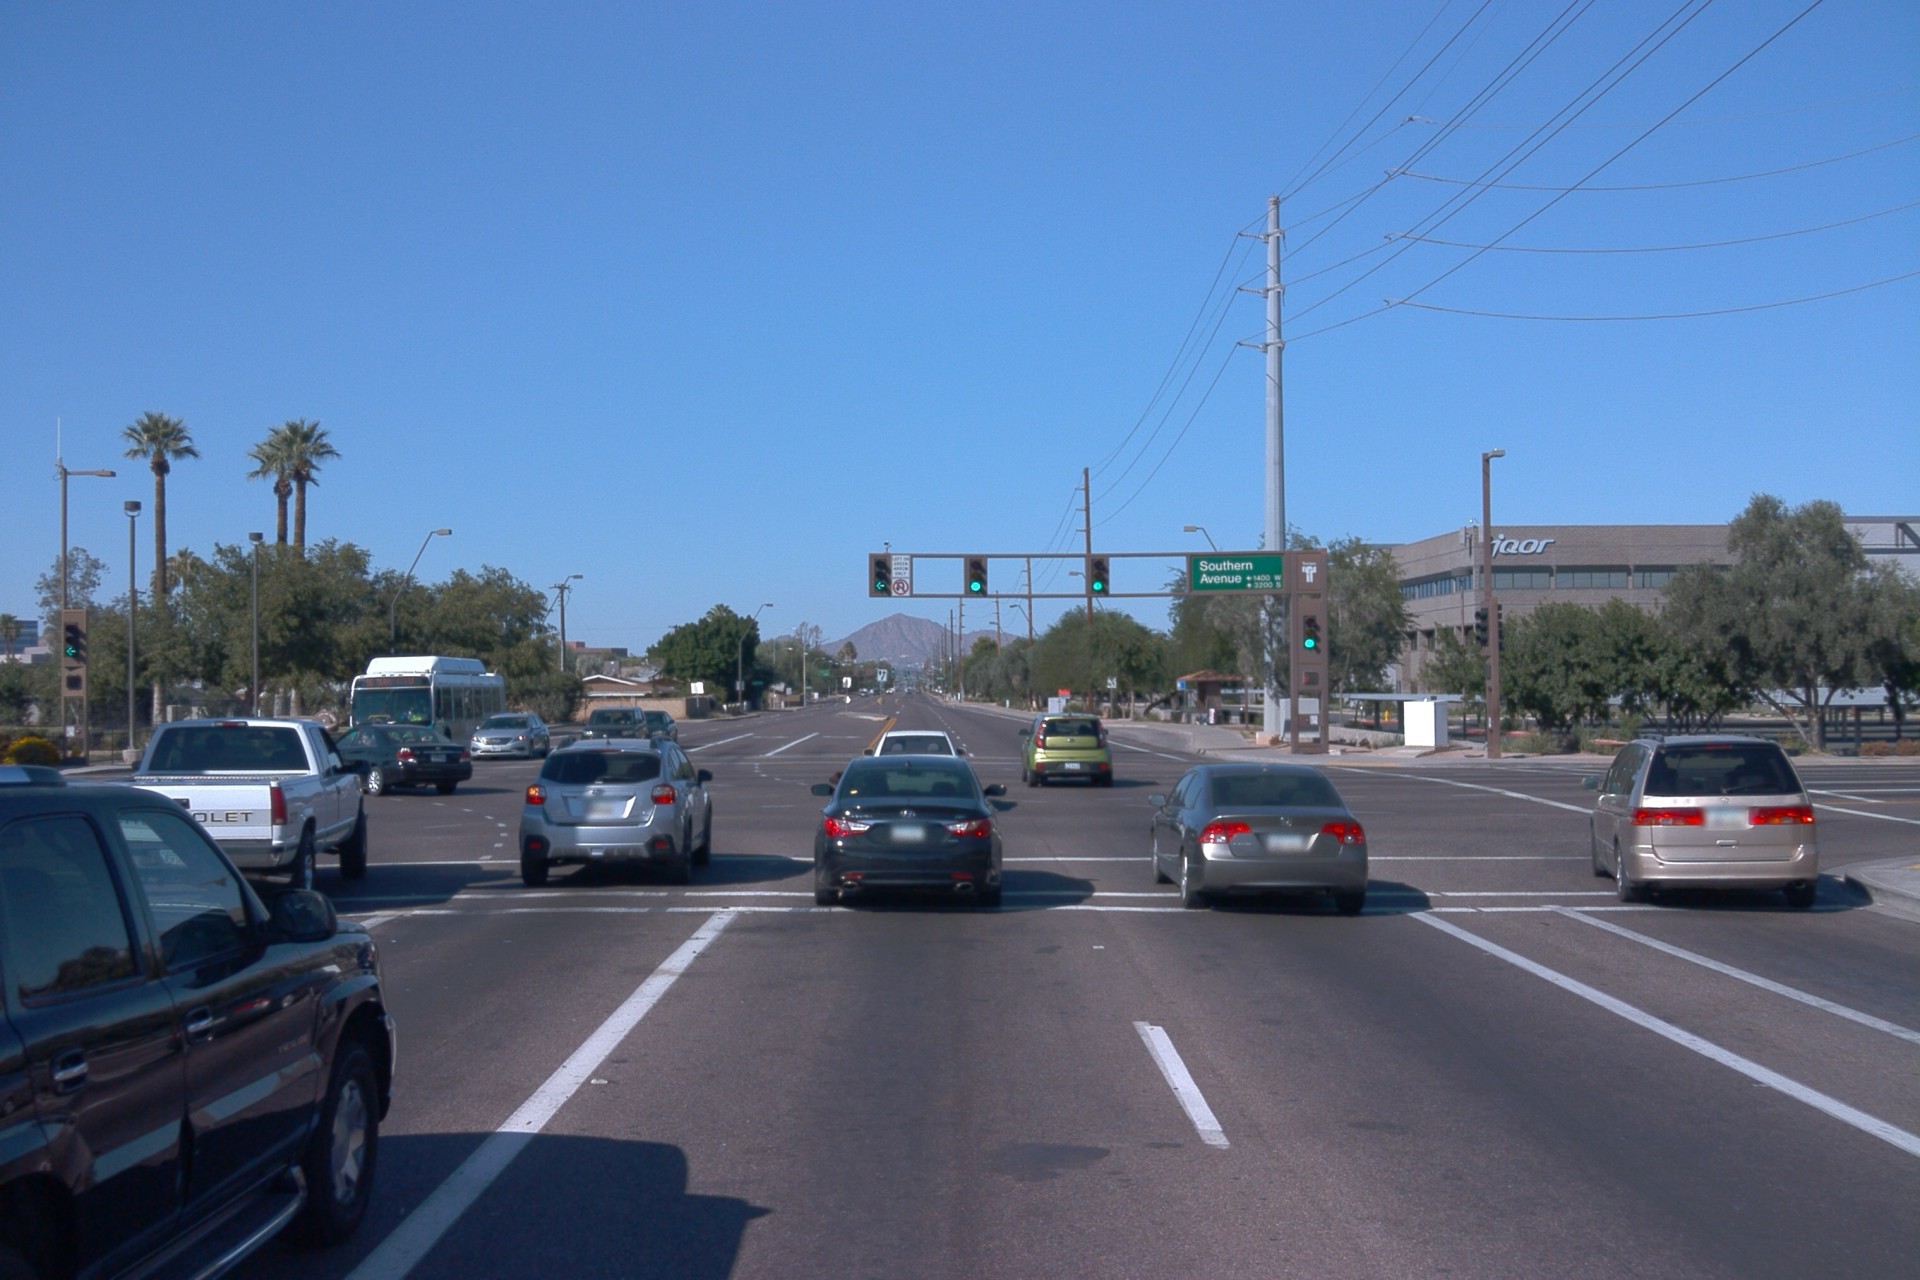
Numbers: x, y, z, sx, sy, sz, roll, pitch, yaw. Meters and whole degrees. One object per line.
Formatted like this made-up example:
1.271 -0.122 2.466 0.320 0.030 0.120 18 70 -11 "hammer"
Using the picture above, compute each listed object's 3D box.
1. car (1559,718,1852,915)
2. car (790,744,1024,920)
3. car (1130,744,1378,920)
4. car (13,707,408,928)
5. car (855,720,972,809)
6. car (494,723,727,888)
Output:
7.971 1.804 22.677 2.226 1.810 4.935 0 -1 10 "car"
-0.546 1.898 21.563 2.156 1.470 4.806 0 -1 -1 "car"
2.953 1.918 21.736 1.907 1.500 4.574 0 -1 0 "car"
-7.538 1.692 21.680 2.491 1.900 6.199 0 -1 -6 "car"
-0.824 2.207 37.556 1.970 1.400 5.048 0 -1 -1 "car"
-3.886 1.808 23.839 2.076 1.610 4.769 0 -1 -3 "car"
